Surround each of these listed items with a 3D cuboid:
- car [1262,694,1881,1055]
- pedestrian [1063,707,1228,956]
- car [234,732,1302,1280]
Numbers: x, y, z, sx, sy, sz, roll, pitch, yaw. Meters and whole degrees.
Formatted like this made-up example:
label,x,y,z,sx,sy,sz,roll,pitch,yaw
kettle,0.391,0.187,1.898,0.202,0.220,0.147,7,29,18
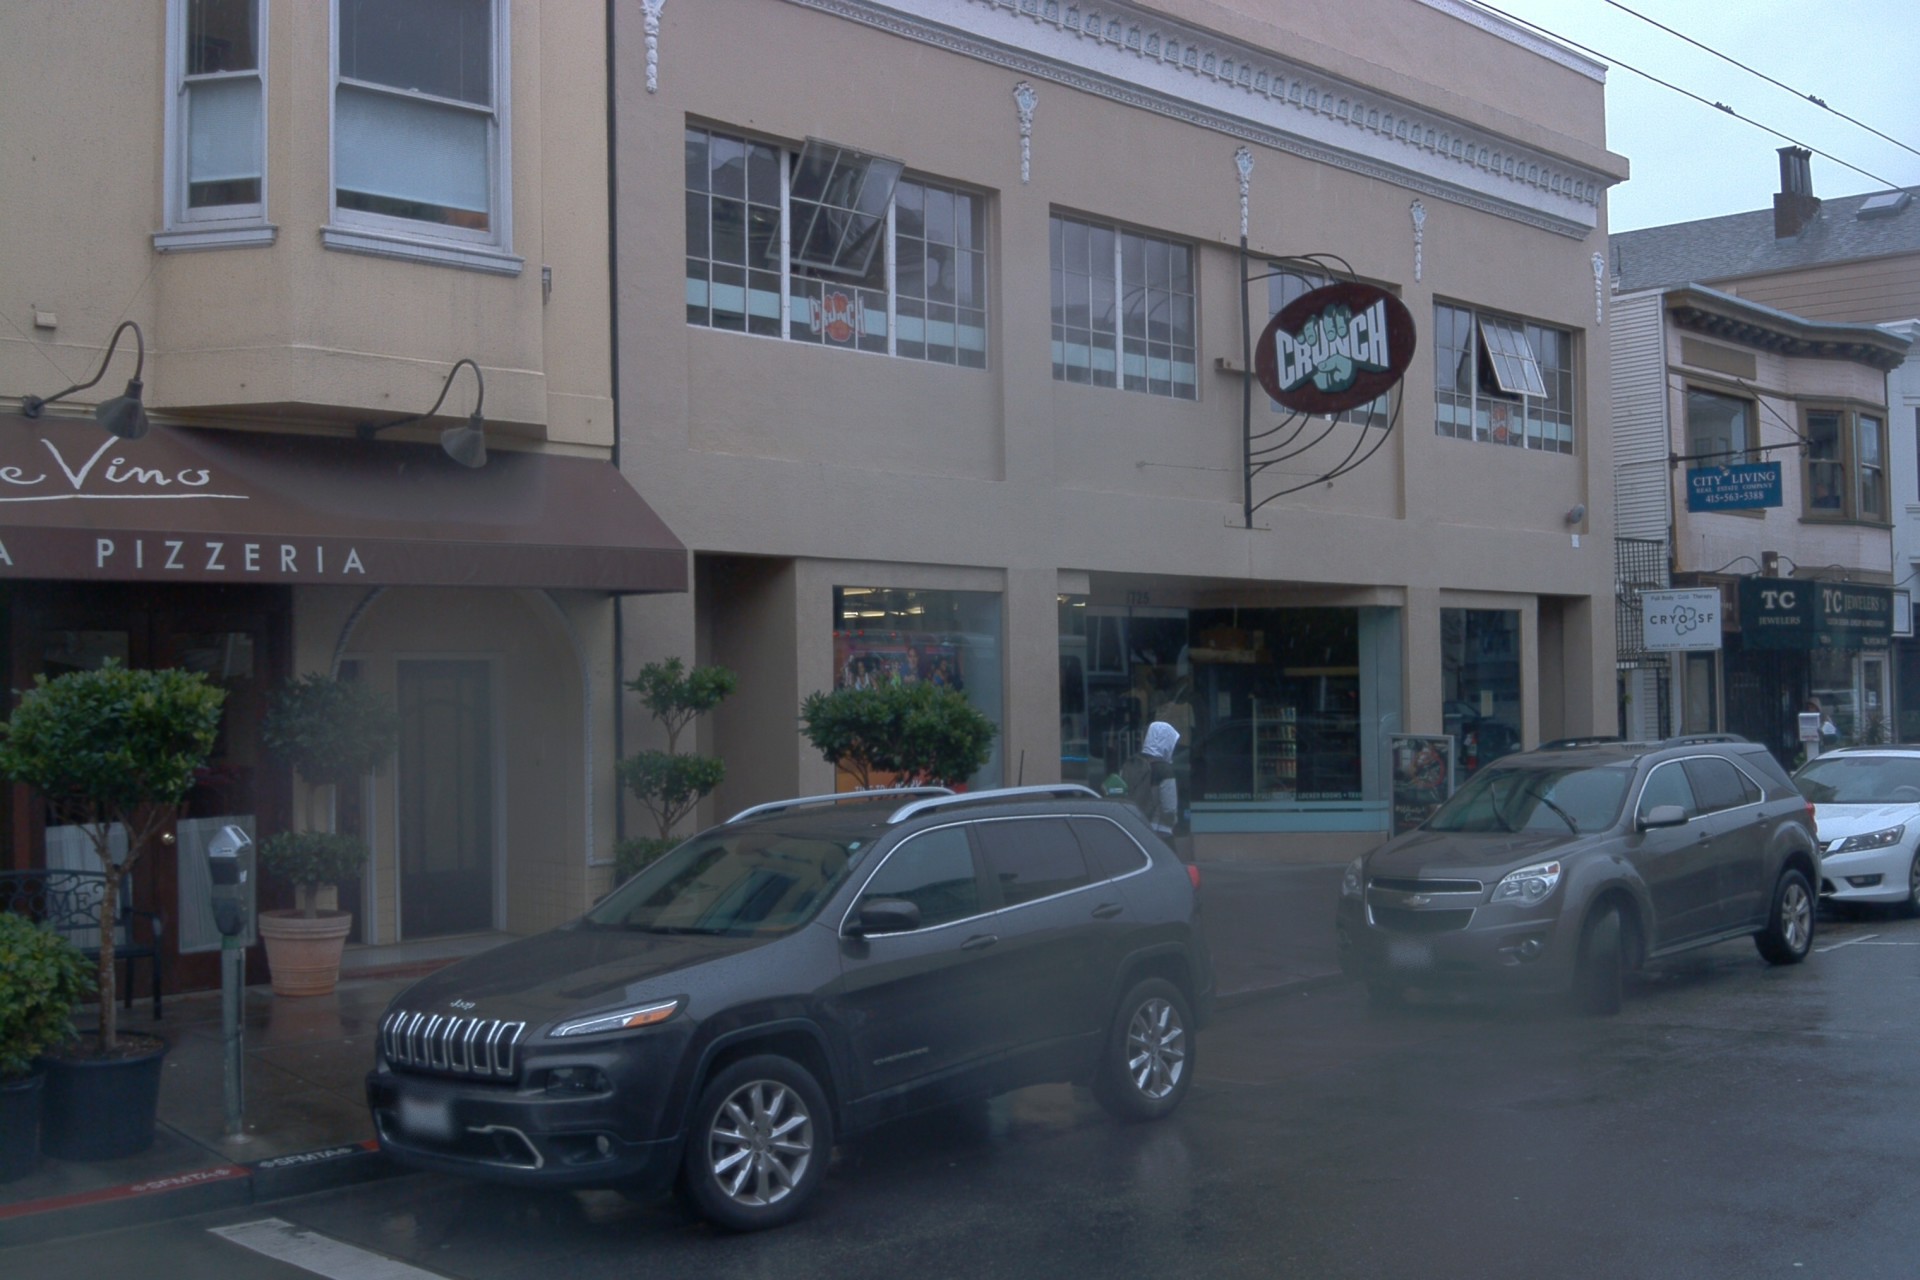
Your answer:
label,x,y,z,sx,sy,sz,roll,pitch,yaw
car,4.493,1.445,14.666,2.059,1.960,5.008,2,1,44
pedestrian,1.438,1.446,16.006,1.056,1.800,0.729,0,1,-44
car,-0.597,1.483,9.707,2.113,1.830,4.891,2,1,40
